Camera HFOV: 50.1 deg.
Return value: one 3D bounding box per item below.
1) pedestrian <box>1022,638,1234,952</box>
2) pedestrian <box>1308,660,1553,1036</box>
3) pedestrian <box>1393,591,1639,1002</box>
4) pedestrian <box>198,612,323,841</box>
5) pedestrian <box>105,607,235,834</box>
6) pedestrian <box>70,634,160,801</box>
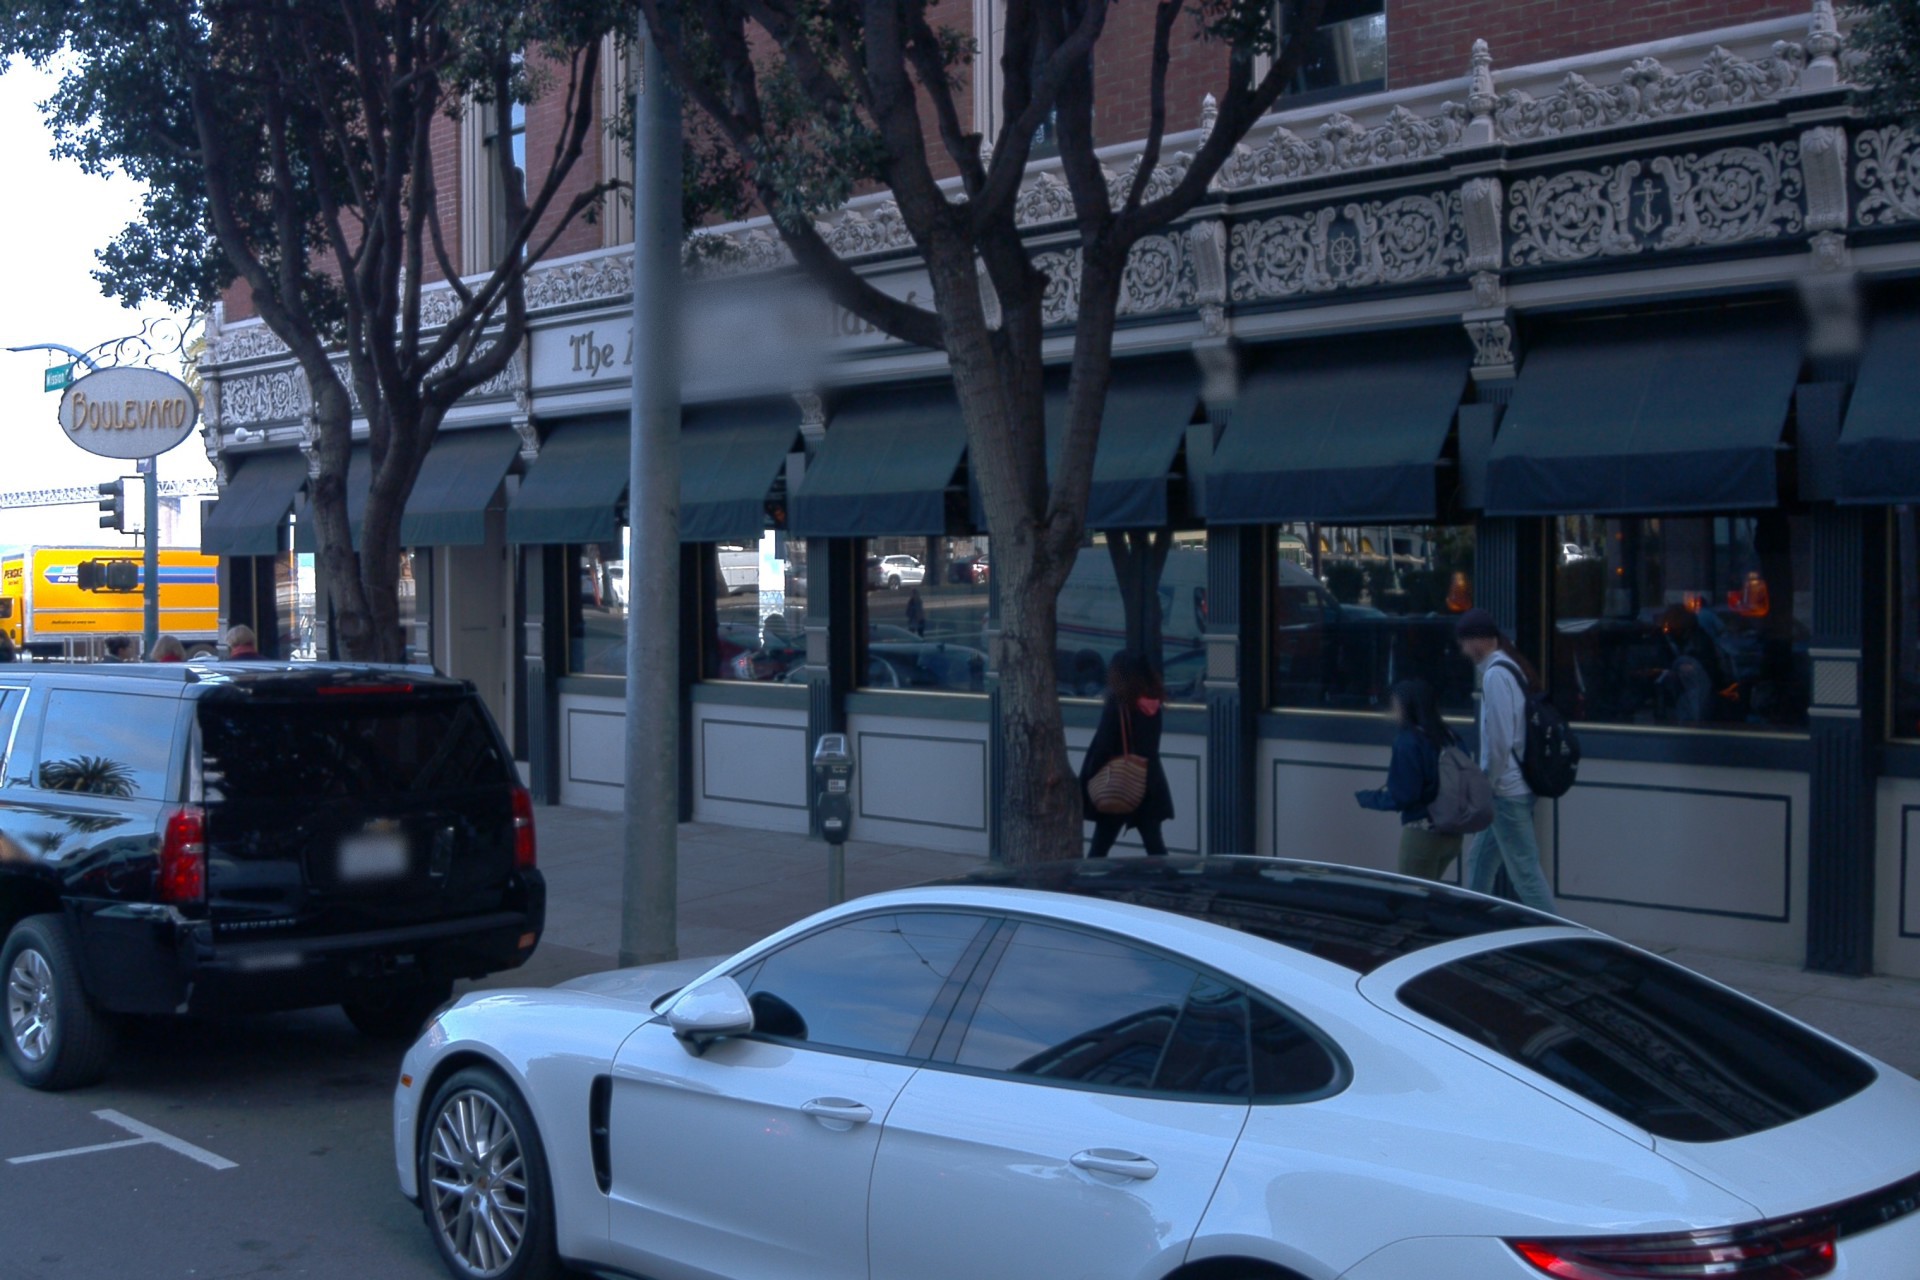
[{"bbox_3d":[0.957,0.838,11.741,0.934,1.690,0.759,0,0,43],"label":"pedestrian"},{"bbox_3d":[2.216,0.930,9.695,0.895,1.650,0.692,0,0,43],"label":"pedestrian"},{"bbox_3d":[2.757,0.726,10.198,0.917,1.920,0.771,0,0,43],"label":"pedestrian"},{"bbox_3d":[-5.969,0.712,17.548,0.726,1.890,0.814,0,0,-44],"label":"pedestrian"},{"bbox_3d":[-6.566,0.641,17.094,0.814,1.828,0.726,0,0,44],"label":"pedestrian"},{"bbox_3d":[-8.424,0.762,20.515,0.648,1.630,0.594,0,0,-1],"label":"pedestrian"}]
